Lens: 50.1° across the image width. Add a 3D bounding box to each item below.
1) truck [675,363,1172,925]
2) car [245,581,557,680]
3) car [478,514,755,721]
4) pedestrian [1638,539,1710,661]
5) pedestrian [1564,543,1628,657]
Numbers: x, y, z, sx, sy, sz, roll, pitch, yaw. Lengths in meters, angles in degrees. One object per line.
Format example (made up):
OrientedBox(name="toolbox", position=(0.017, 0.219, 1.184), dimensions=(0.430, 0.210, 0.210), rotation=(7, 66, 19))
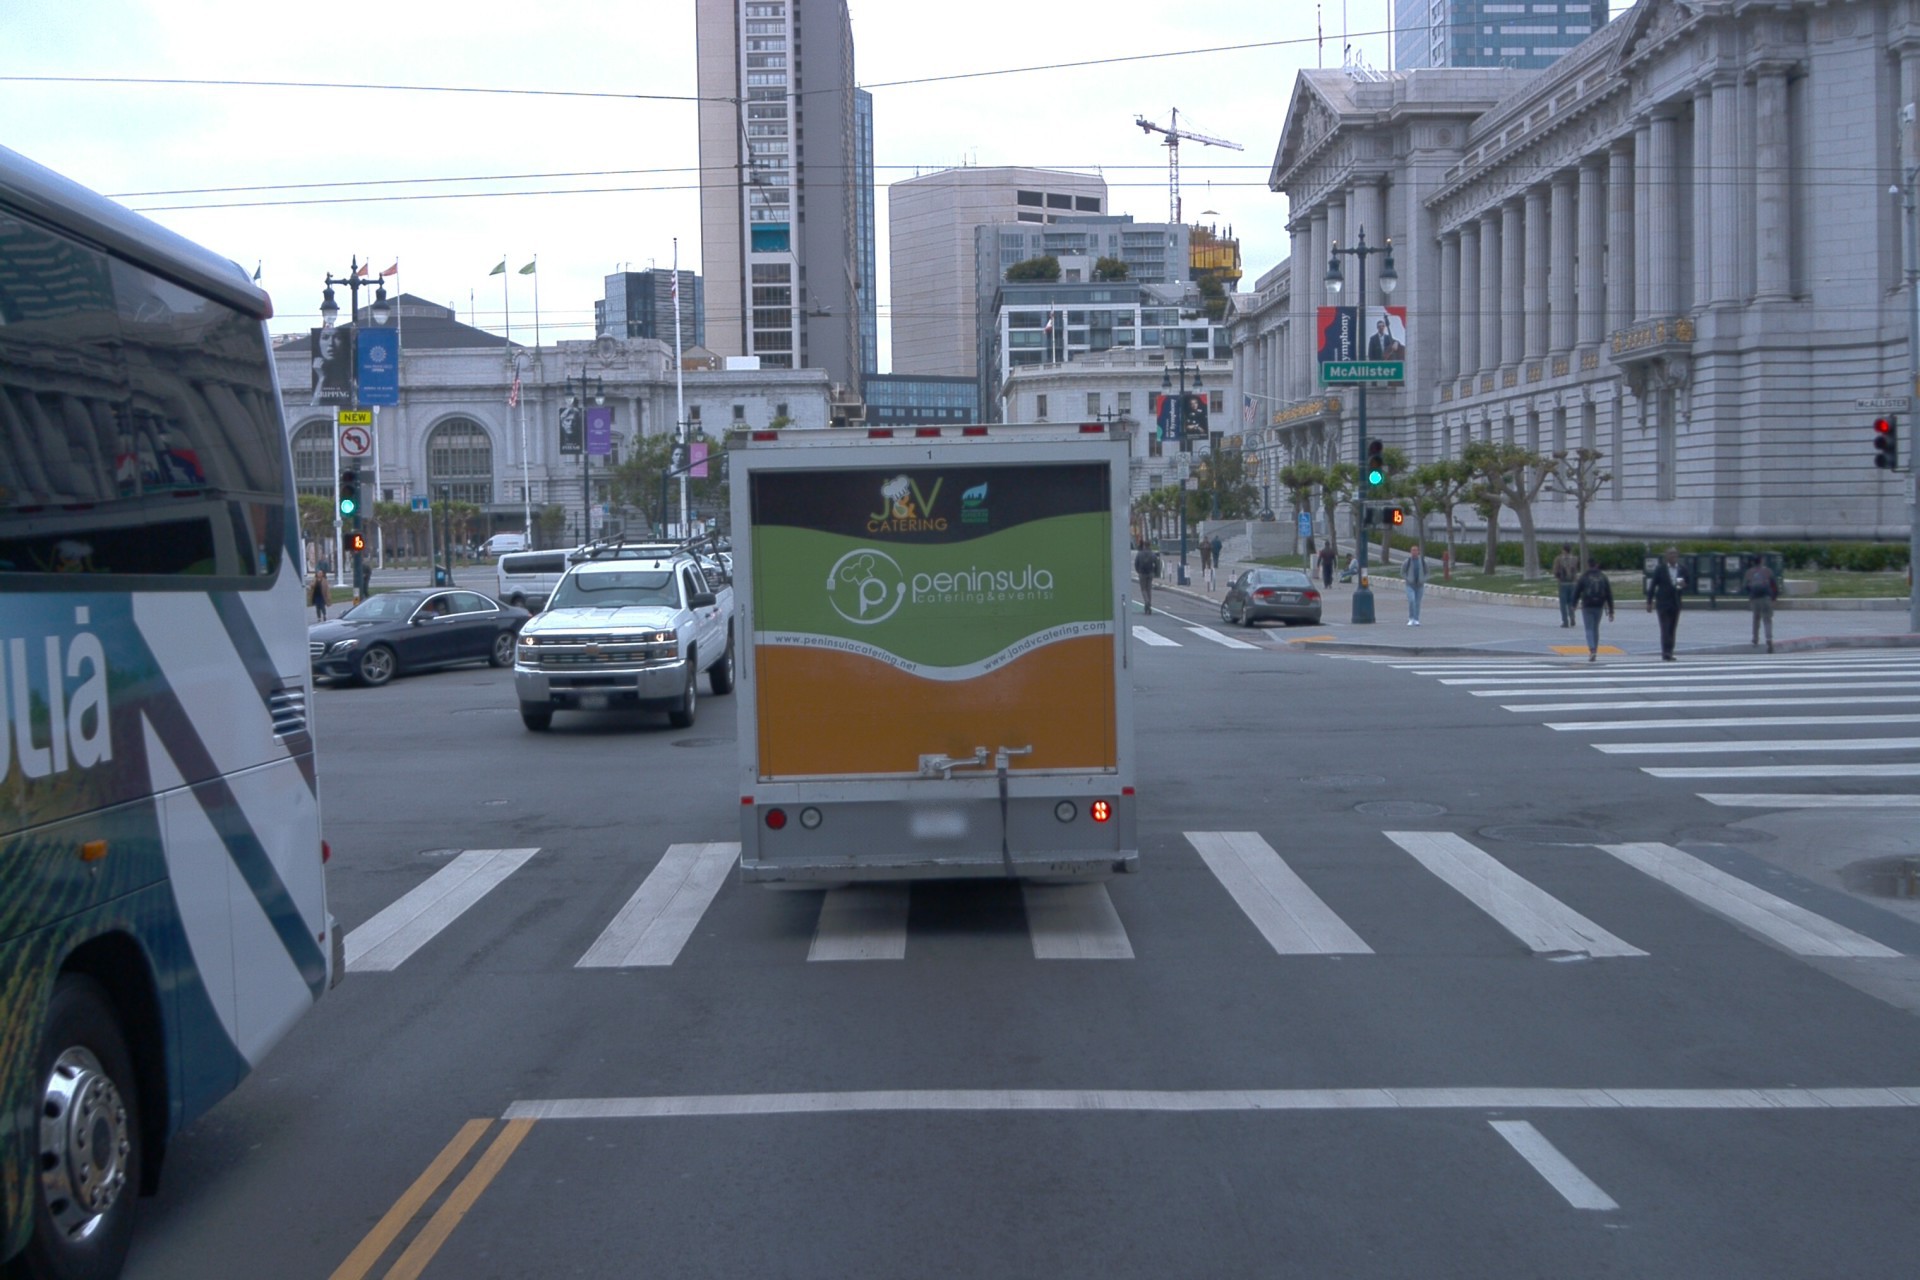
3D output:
OrientedBox(name="truck", position=(-0.269, -0.032, 15.769), dimensions=(2.917, 3.300, 7.284), rotation=(0, 1, -1))
OrientedBox(name="car", position=(-9.231, -0.189, 34.421), dimensions=(2.283, 1.520, 4.897), rotation=(0, 1, 29))
OrientedBox(name="car", position=(-4.203, -0.305, 26.359), dimensions=(2.434, 2.339, 5.914), rotation=(0, 1, 1))
OrientedBox(name="pedestrian", position=(10.991, -0.614, 31.679), dimensions=(0.812, 1.850, 0.951), rotation=(0, 1, 3))
OrientedBox(name="pedestrian", position=(9.986, -0.617, 32.296), dimensions=(0.832, 1.760, 0.933), rotation=(0, 1, 9))
